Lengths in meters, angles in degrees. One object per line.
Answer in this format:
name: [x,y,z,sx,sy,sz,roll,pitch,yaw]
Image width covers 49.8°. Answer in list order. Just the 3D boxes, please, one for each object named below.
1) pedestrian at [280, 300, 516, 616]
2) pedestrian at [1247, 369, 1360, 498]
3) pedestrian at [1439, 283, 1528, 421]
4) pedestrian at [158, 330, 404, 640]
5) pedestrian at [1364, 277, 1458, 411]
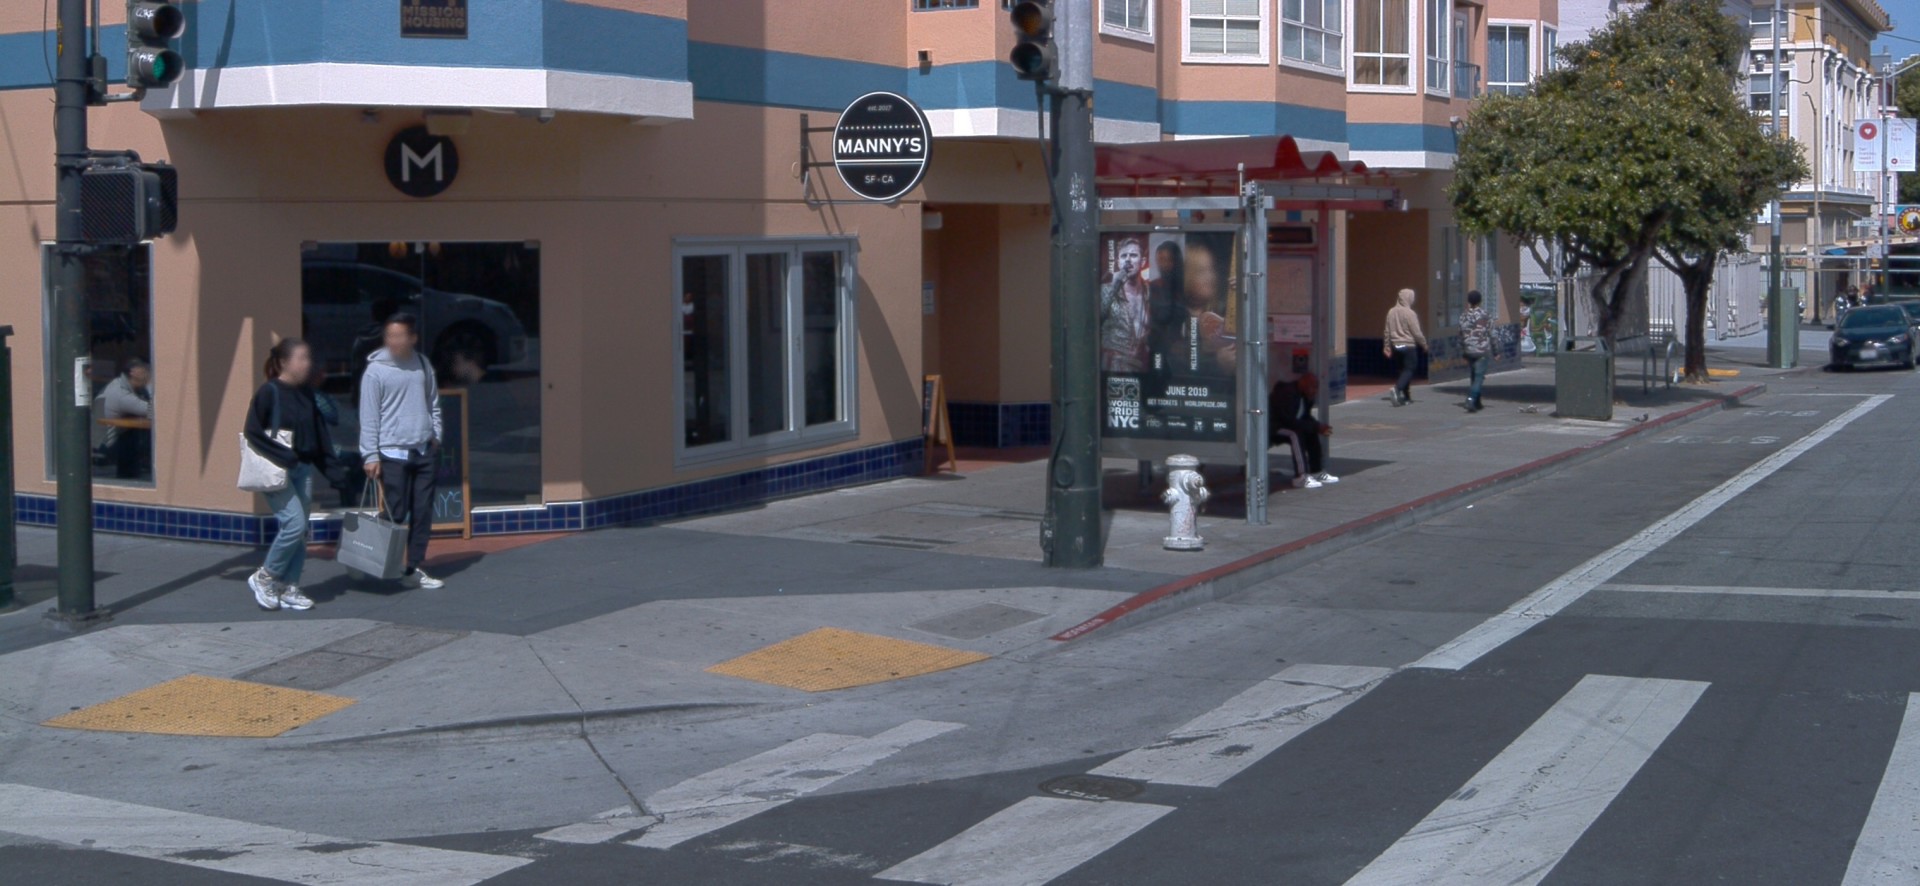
pedestrian: [-3.515,0.046,12.973,1.040,1.826,0.952,1,3,25]
pedestrian: [3.248,-0.111,19.492,0.829,1.097,0.832,1,4,28]
pedestrian: [7.402,-1.308,29.221,0.927,1.846,1.063,1,3,33]
pedestrian: [-4.017,0.206,12.255,1.040,1.676,0.884,1,3,25]
pedestrian: [6.577,-1.465,30.118,0.965,1.866,1.102,1,3,37]
